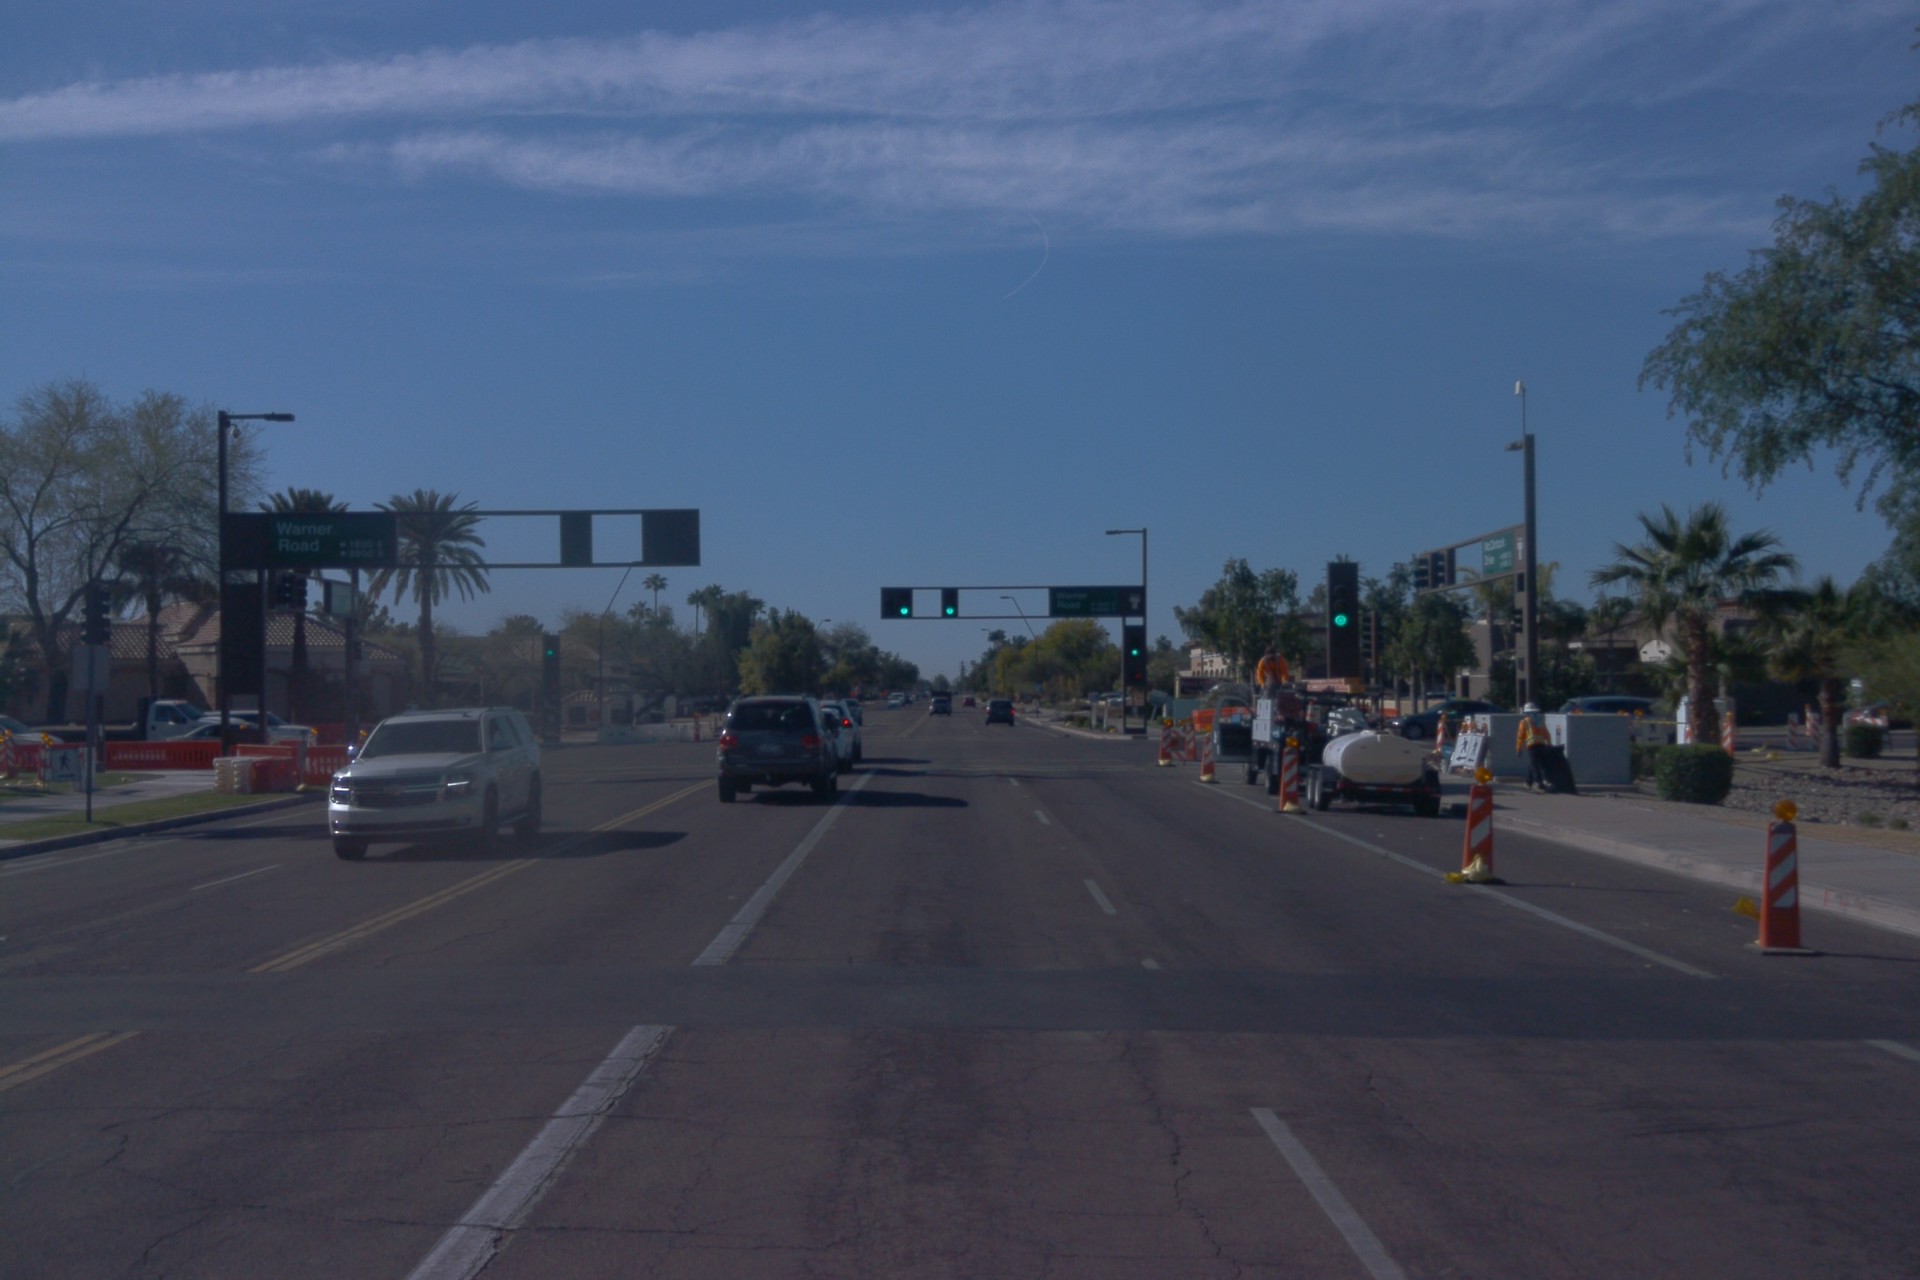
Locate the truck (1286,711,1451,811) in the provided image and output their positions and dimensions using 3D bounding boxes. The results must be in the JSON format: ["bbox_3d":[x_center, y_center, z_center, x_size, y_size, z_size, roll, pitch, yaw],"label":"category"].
[{"bbox_3d":[7.241,2.128,37.279,2.342,1.660,3.637,0,-1,2],"label":"truck"}]

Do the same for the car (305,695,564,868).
[{"bbox_3d":[-7.023,1.830,28.430,2.252,2.110,5.142,0,-1,0],"label":"car"}]
